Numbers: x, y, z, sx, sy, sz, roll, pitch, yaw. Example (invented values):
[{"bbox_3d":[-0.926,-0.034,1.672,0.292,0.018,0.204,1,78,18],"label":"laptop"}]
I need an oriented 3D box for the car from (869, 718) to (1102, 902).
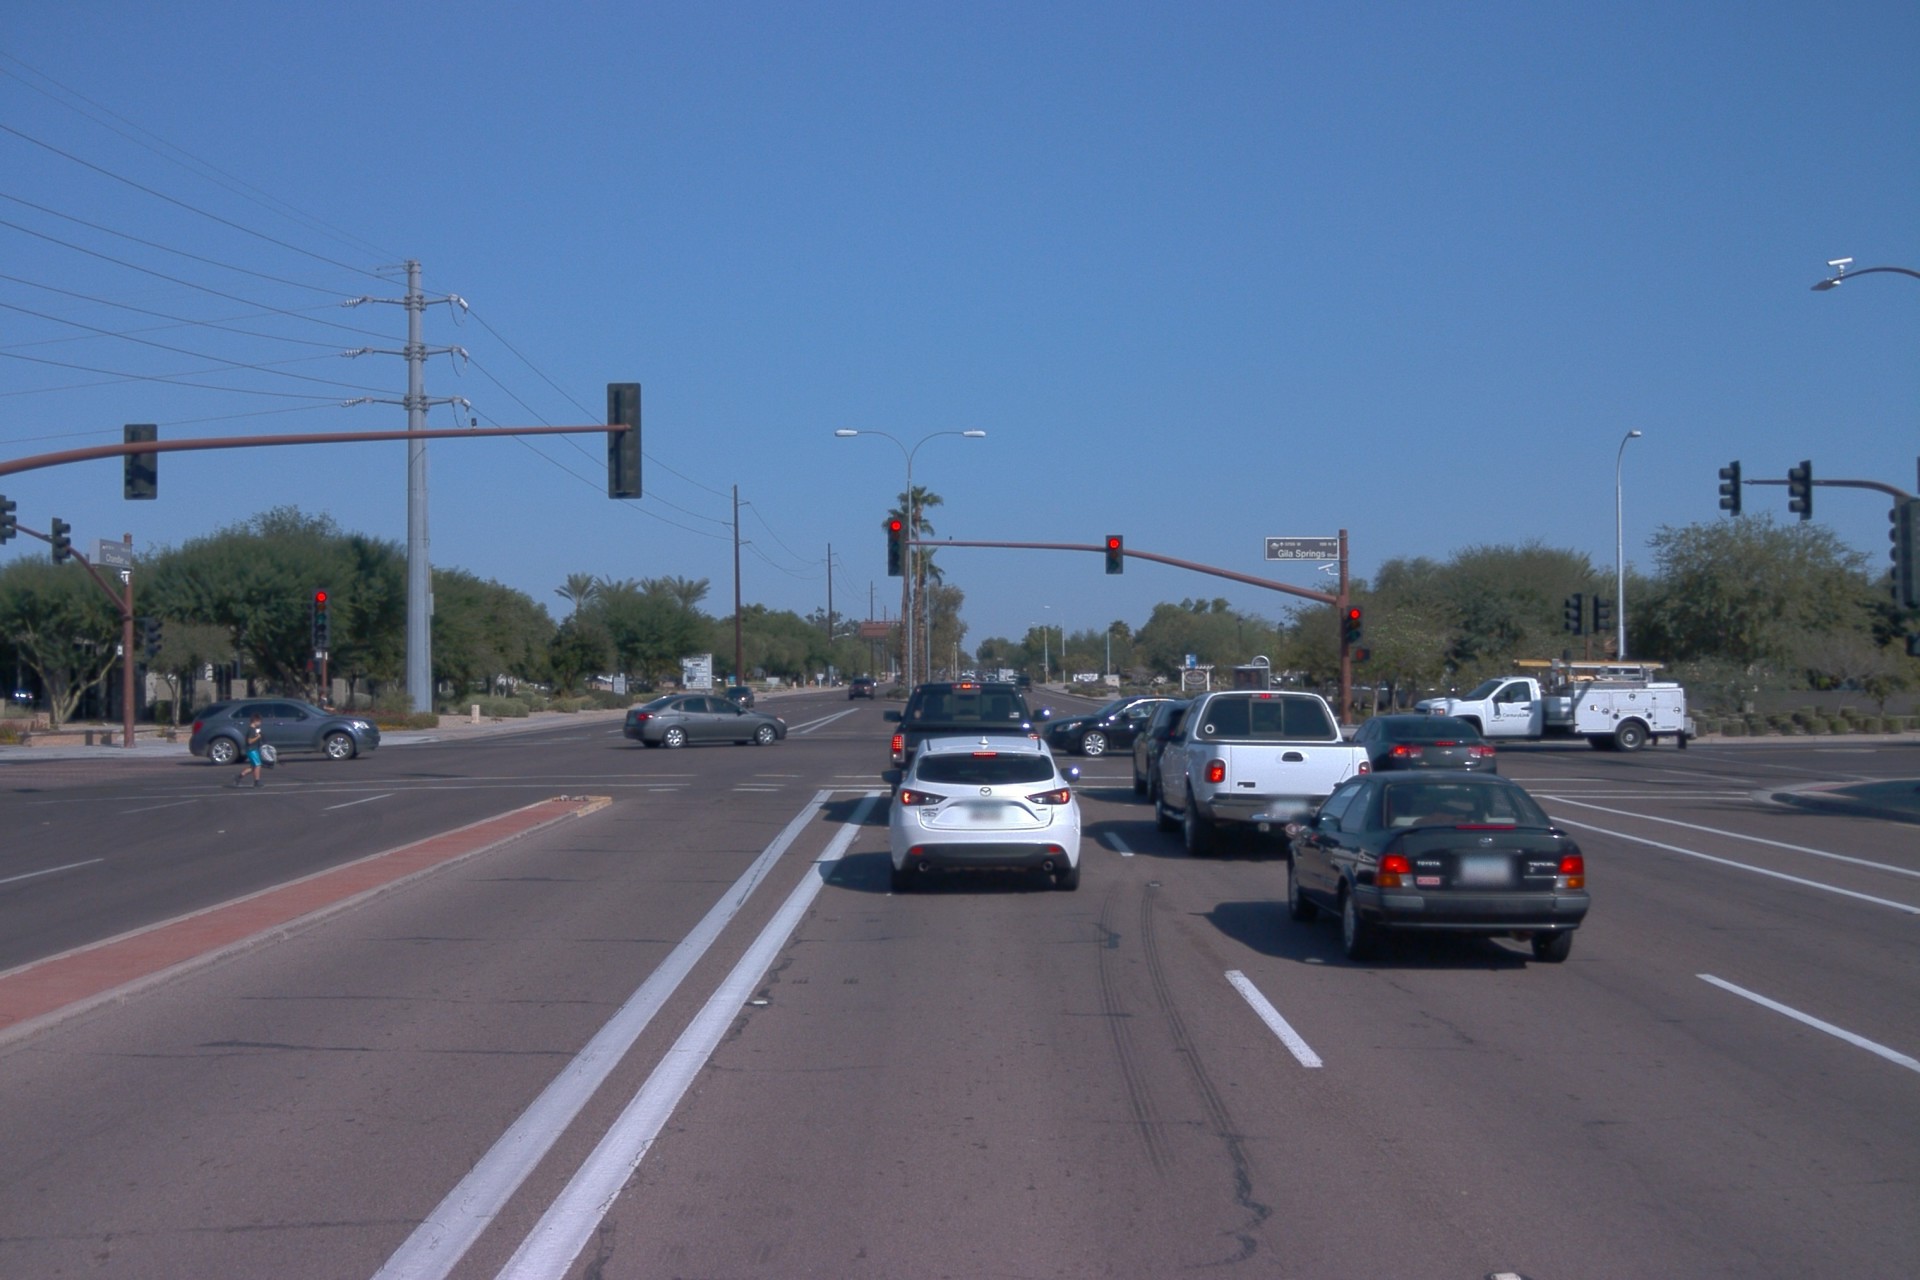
[{"bbox_3d":[0.260,1.623,21.128,2.099,1.600,4.628,0,-1,1],"label":"car"}]

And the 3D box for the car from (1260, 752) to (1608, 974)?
[{"bbox_3d":[3.525,1.628,16.253,1.735,1.400,4.161,0,-1,0],"label":"car"}]

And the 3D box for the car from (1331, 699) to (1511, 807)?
[{"bbox_3d":[7.046,1.696,32.248,1.828,1.540,4.447,0,-1,0],"label":"car"}]

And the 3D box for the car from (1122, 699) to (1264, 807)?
[{"bbox_3d":[3.717,1.783,33.829,1.789,1.630,4.213,0,-1,-1],"label":"car"}]

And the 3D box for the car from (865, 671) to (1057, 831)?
[{"bbox_3d":[0.109,1.517,29.647,2.500,2.080,5.001,0,-1,2],"label":"car"}]

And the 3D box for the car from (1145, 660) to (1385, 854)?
[{"bbox_3d":[3.511,1.329,25.057,2.073,2.070,5.518,0,-1,0],"label":"car"}]
